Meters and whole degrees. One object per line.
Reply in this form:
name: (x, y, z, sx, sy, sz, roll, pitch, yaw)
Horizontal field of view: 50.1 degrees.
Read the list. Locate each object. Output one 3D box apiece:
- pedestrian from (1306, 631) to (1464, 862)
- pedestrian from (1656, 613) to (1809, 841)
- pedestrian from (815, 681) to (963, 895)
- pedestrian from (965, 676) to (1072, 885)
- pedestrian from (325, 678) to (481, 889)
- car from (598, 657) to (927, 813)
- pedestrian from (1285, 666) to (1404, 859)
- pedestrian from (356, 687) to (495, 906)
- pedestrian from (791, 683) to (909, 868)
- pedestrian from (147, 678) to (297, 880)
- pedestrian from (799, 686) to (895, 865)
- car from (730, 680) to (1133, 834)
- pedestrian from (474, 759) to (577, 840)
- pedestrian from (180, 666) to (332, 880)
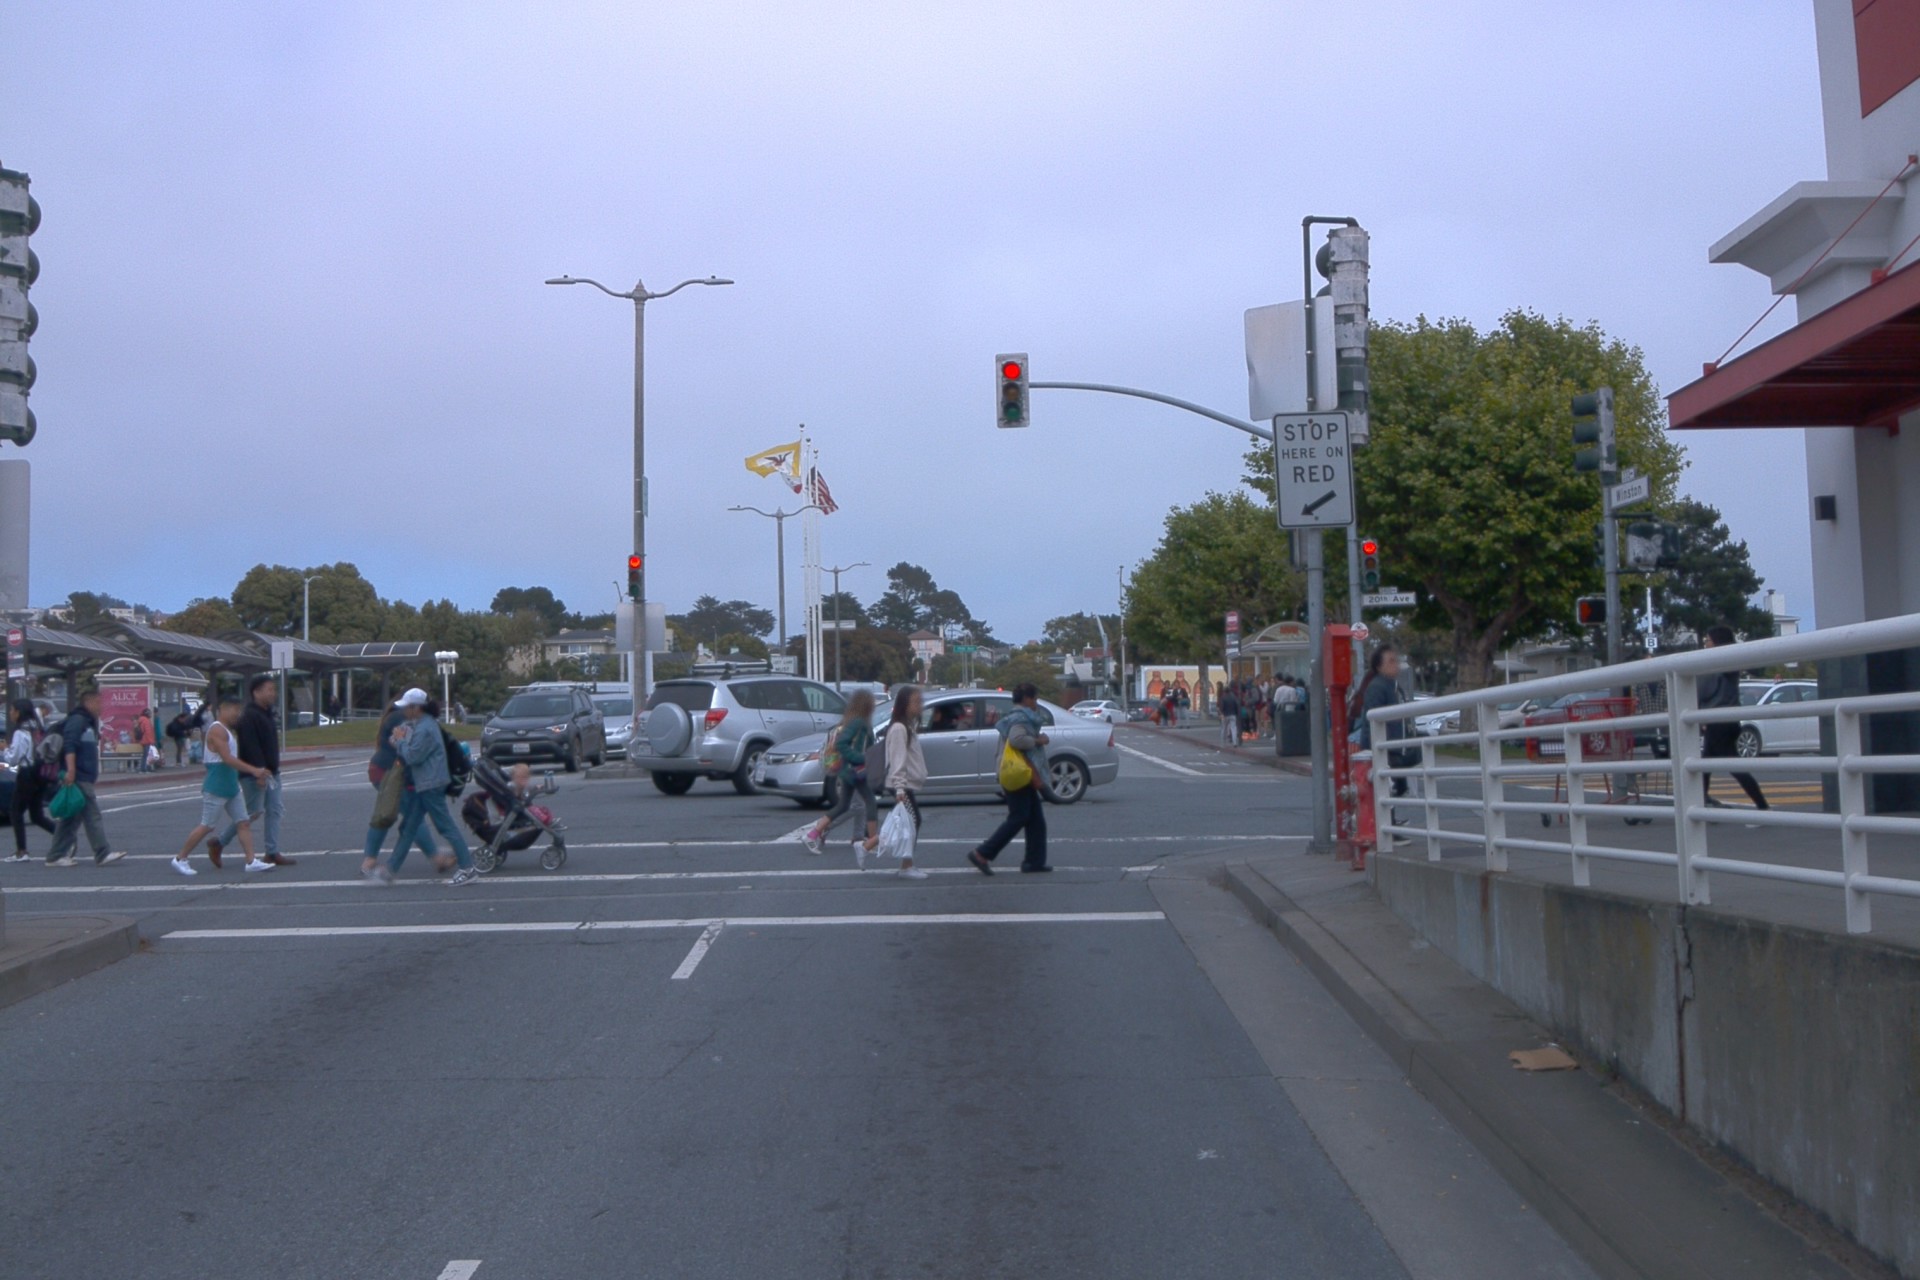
pedestrian: (3.337, 0.800, 16.121, 0.959, 1.730, 0.948, 0, 1, 31)
pedestrian: (5.803, 0.623, 15.437, 0.934, 1.650, 0.745, 0, 1, 33)
pedestrian: (-0.544, 1.128, 16.023, 0.958, 1.580, 0.812, 0, 1, 15)
pedestrian: (0.450, 1.085, 16.193, 0.813, 1.580, 0.782, 0, 1, 0)
pedestrian: (-4.661, 1.189, 17.259, 1.130, 1.710, 0.706, 0, 1, -2)
car: (-2.755, 1.279, 29.687, 2.161, 1.960, 4.592, 0, 1, 38)
pedestrian: (3.396, 1.070, 18.229, 0.942, 1.650, 0.784, 0, 1, 3)
pedestrian: (-4.251, 1.216, 16.331, 1.008, 1.650, 0.764, 0, 1, -18)
pedestrian: (-0.972, 1.170, 18.039, 0.976, 1.560, 0.647, 0, 1, -7)
pedestrian: (-6.312, 1.177, 17.624, 1.013, 1.670, 0.738, 0, 1, 1)
pedestrian: (-1.036, 1.216, 18.708, 0.824, 1.560, 0.697, 0, 1, -6)
car: (-0.356, 1.360, 25.098, 4.471, 1.620, 2.031, -1, 1, -22)
pedestrian: (-3.658, 1.341, 17.337, 0.771, 0.640, 0.481, 0, 1, -1)
pedestrian: (-6.241, 1.159, 18.276, 1.004, 1.830, 0.939, 0, 1, 2)
